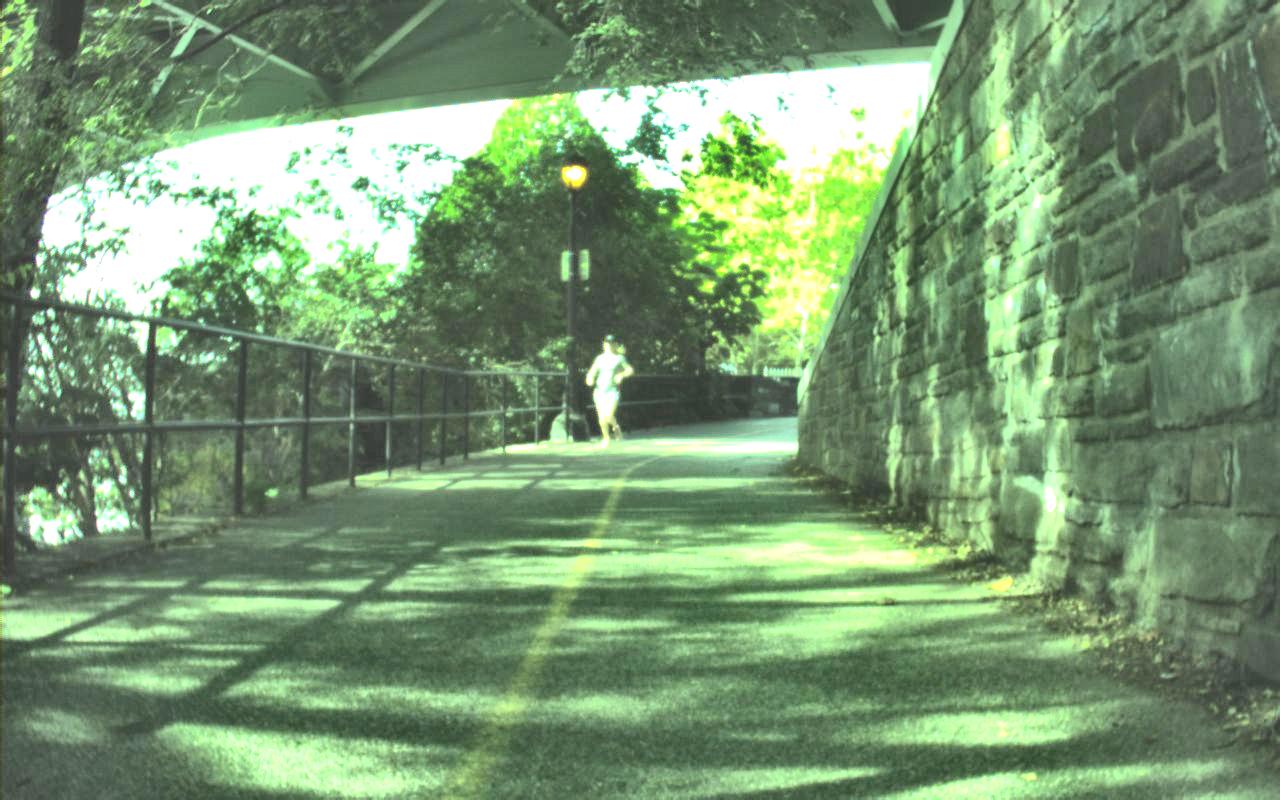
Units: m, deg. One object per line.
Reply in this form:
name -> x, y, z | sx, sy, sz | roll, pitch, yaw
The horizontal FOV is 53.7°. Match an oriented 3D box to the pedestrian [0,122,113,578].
pedestrian -> -2.521, -0.183, 4.413 | 0.797, 1.662, 0.860 | 0, 0, -19

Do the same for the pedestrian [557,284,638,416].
pedestrian -> -0.589, -0.690, 17.730 | 0.786, 1.792, 0.855 | 1, 0, 30
